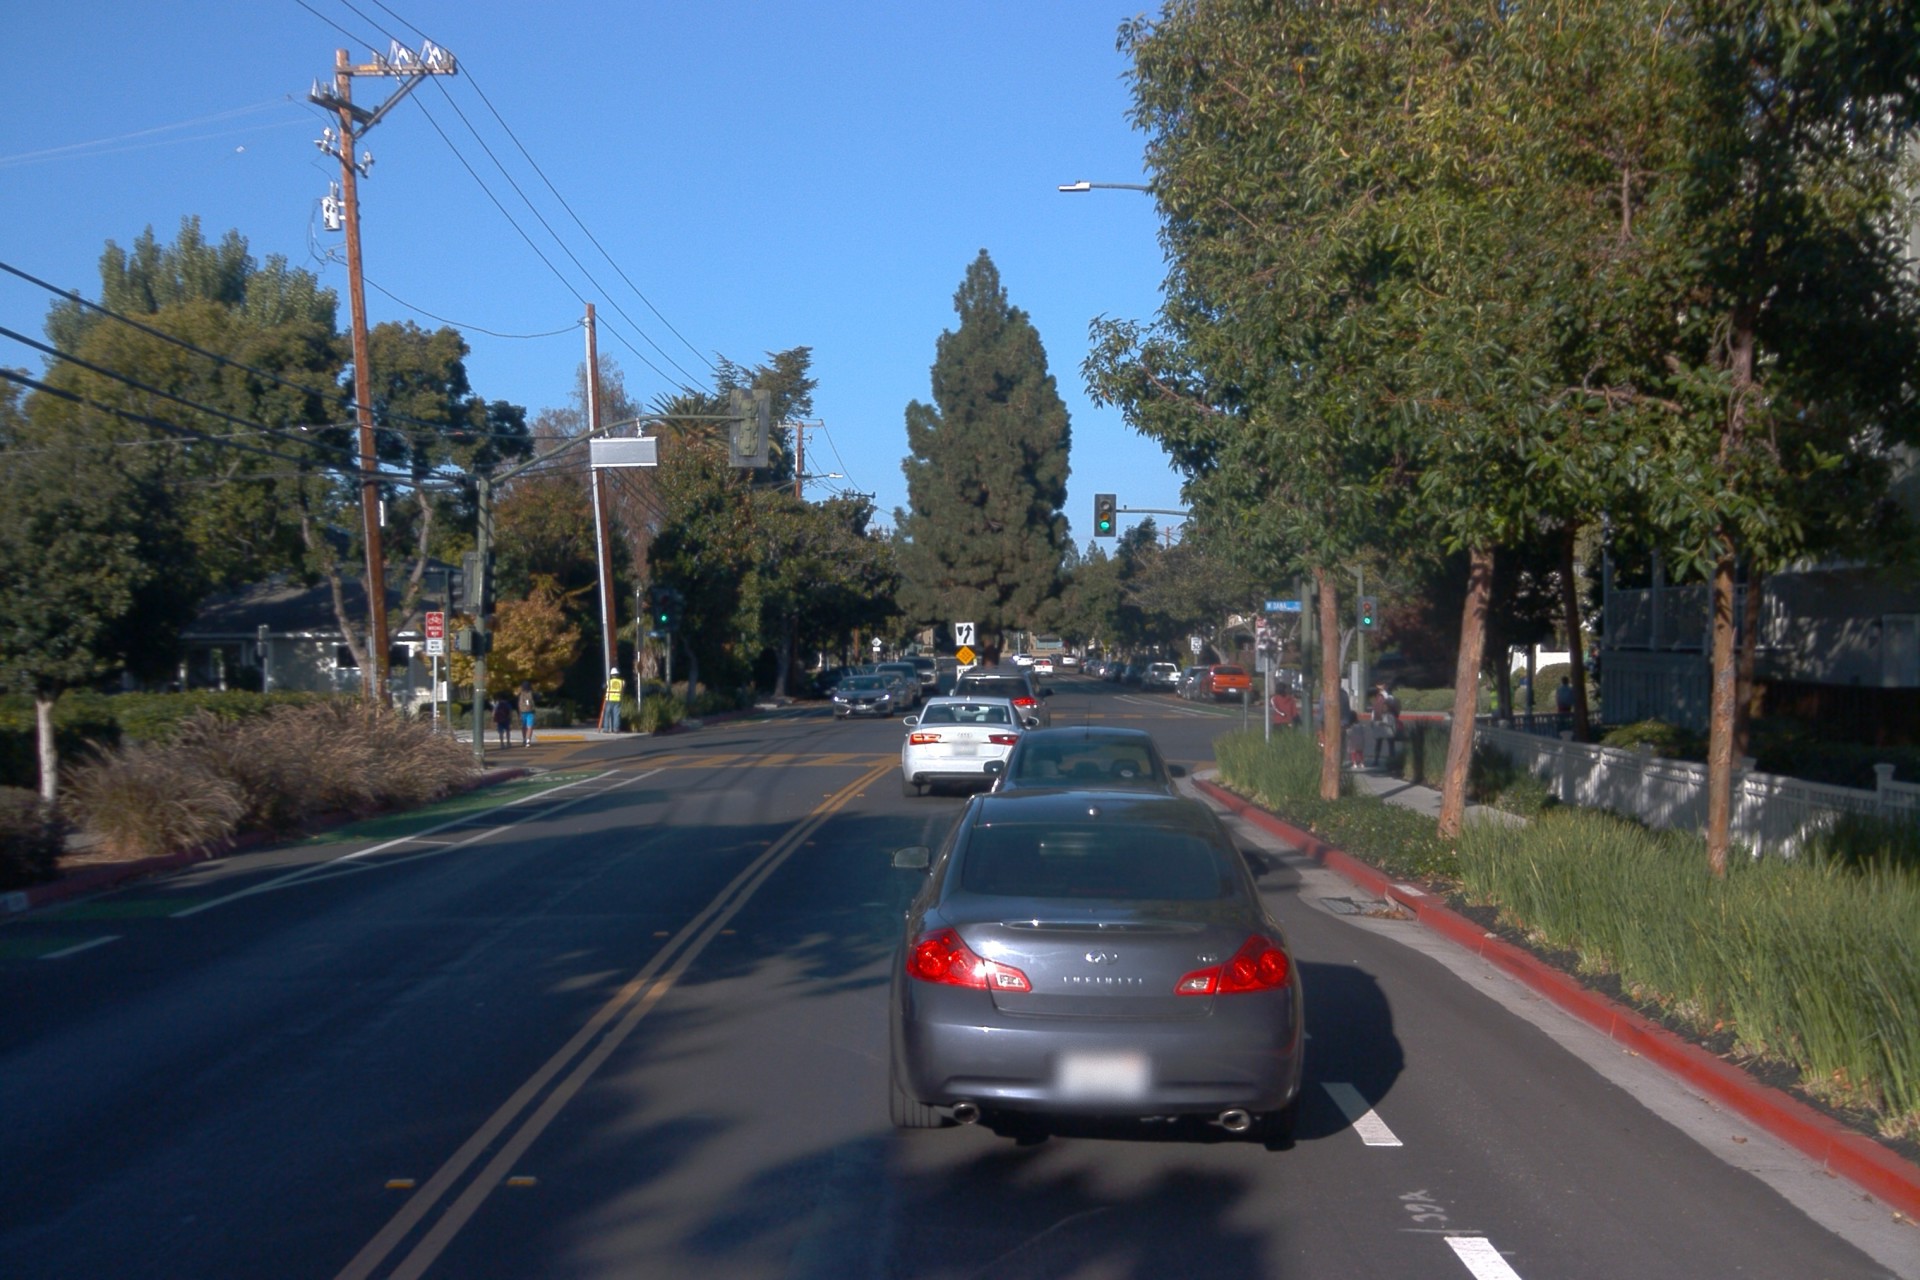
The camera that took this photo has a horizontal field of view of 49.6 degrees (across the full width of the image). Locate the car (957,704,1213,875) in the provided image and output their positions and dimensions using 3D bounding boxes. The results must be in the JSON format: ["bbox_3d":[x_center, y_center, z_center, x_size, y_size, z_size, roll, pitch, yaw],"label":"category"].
[{"bbox_3d":[1.096,1.259,18.659,2.028,1.210,4.035,1,0,3],"label":"car"}]

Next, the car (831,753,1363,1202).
[{"bbox_3d":[0.622,1.420,10.243,2.033,1.460,4.435,1,0,3],"label":"car"}]

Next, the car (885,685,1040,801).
[{"bbox_3d":[0.118,1.484,31.184,2.122,1.500,4.397,1,0,2],"label":"car"}]
